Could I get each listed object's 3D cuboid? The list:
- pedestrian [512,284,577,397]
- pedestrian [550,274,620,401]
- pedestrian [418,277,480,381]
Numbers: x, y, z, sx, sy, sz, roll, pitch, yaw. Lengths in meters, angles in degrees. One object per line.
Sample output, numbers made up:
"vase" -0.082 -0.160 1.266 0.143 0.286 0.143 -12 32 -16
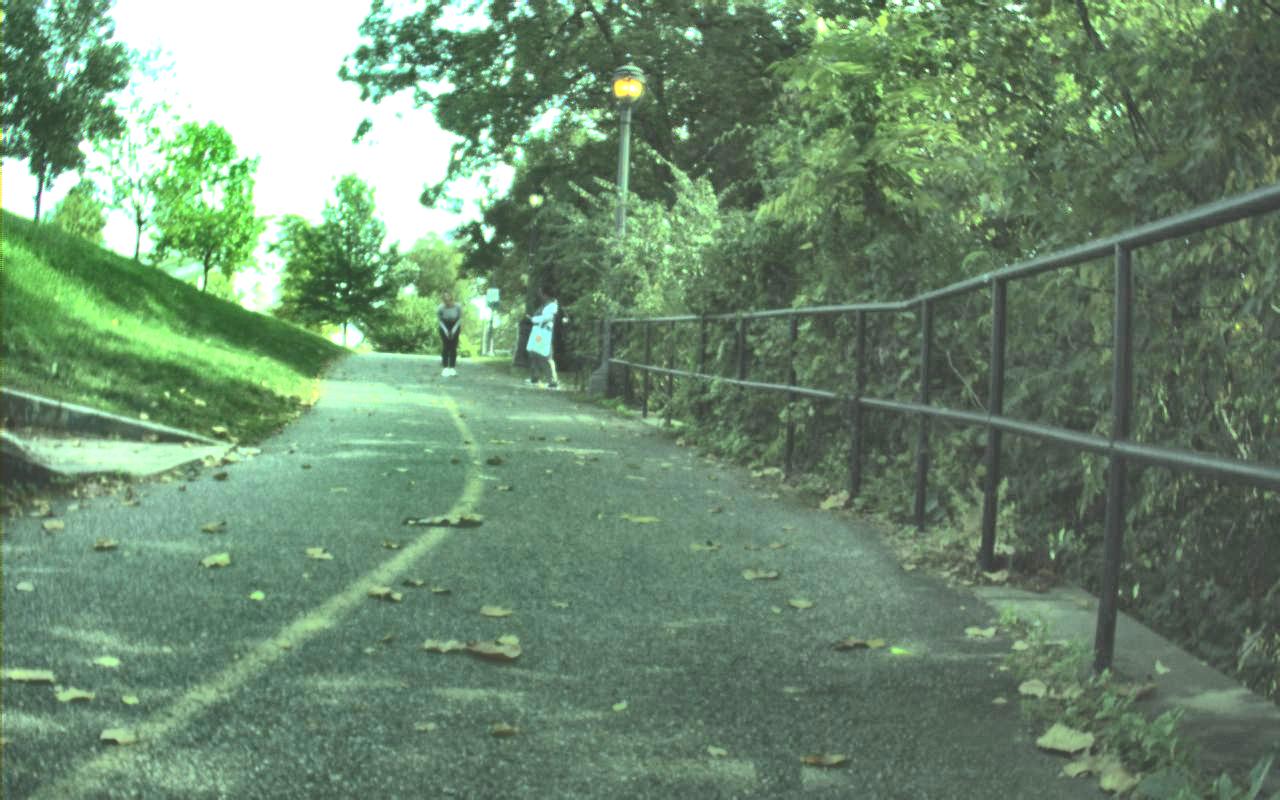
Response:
"pedestrian" -1.480 -0.925 19.657 0.902 1.717 0.850 0 0 3
"pedestrian" -0.806 -0.887 18.152 0.865 1.766 0.858 0 0 -12
"pedestrian" -3.221 -1.183 21.064 0.818 1.710 0.770 0 0 11
